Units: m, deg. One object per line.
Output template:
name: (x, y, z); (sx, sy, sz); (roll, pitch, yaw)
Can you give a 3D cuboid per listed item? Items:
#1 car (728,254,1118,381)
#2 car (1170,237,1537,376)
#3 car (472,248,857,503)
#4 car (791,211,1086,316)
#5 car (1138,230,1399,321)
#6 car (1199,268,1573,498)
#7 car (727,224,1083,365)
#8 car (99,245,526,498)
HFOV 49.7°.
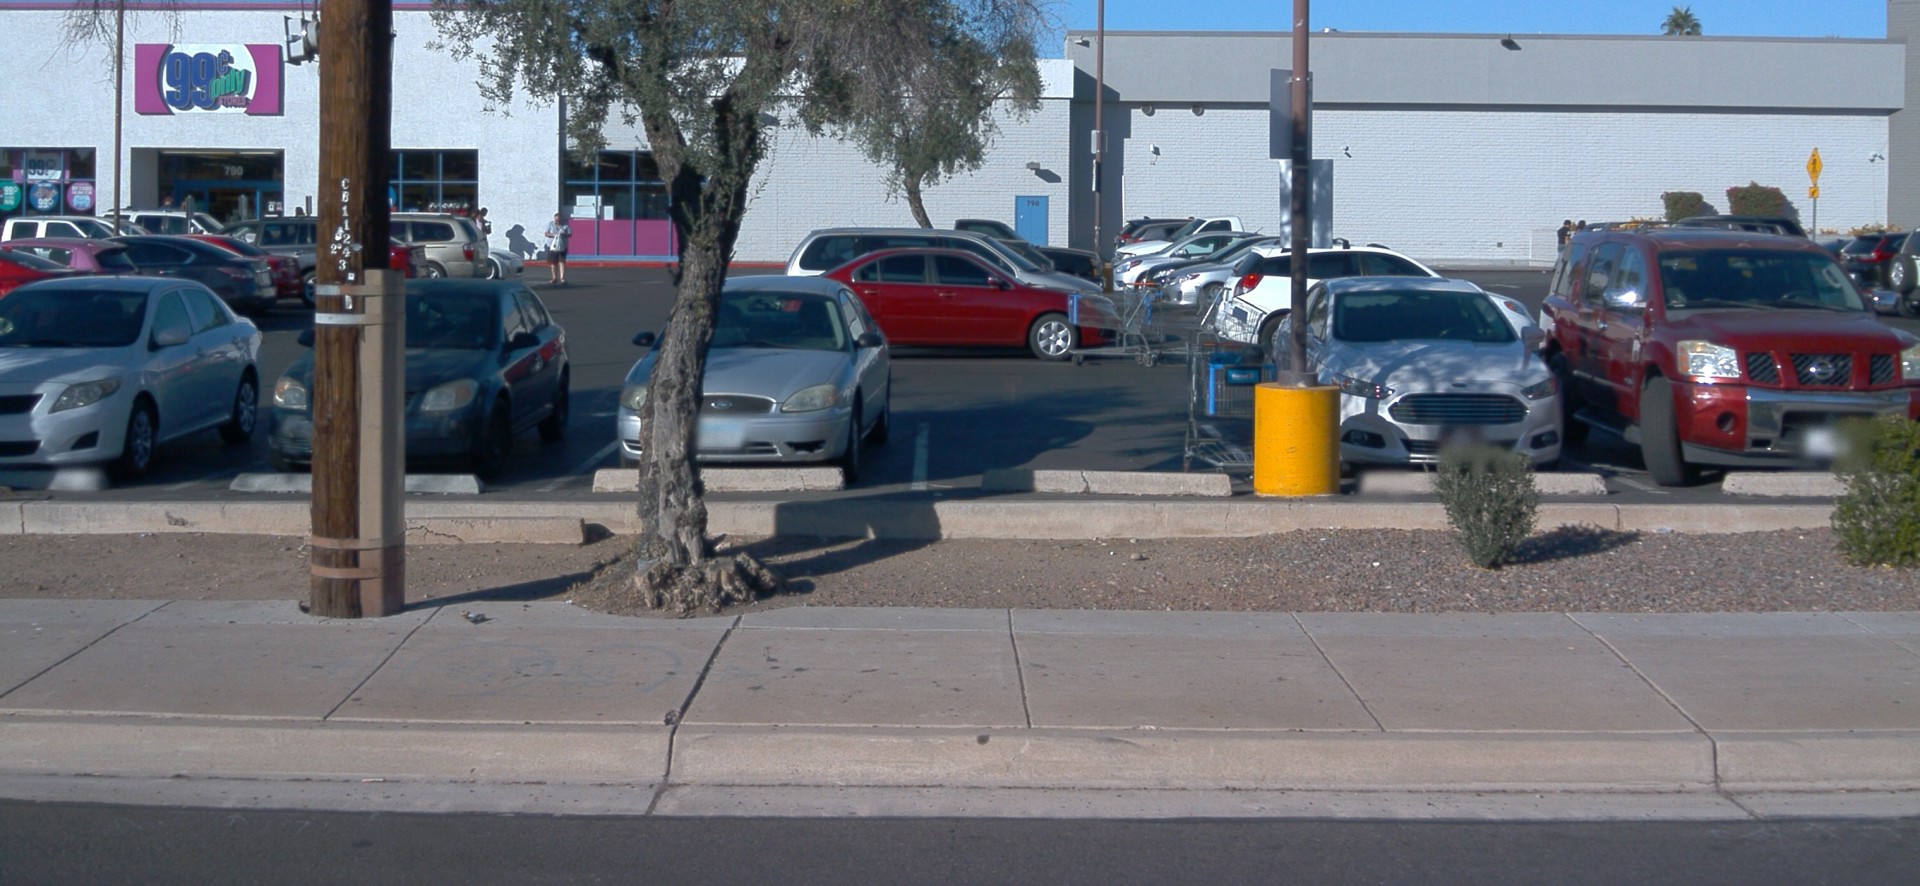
car: (-0.496, -1.721, 27.898); (5.039, 1.607, 2.160); (0, 4, -2)
car: (5.183, -1.858, 27.777); (4.565, 1.788, 2.041); (0, 3, 0)
car: (-2.112, -0.696, 16.434); (2.096, 1.674, 5.092); (0, 5, 3)
car: (-0.396, -3.381, 38.916); (5.367, 1.897, 2.353); (0, 3, -1)
car: (5.669, -3.129, 38.516); (4.572, 1.627, 1.976); (0, 3, -1)
car: (3.250, -0.626, 16.893); (2.207, 1.524, 4.926); (0, 5, 2)
car: (-0.735, -2.227, 30.553); (5.050, 1.987, 2.183); (0, 3, 3)
car: (-4.934, -0.702, 16.530); (2.068, 1.724, 4.403); (0, 5, -1)
